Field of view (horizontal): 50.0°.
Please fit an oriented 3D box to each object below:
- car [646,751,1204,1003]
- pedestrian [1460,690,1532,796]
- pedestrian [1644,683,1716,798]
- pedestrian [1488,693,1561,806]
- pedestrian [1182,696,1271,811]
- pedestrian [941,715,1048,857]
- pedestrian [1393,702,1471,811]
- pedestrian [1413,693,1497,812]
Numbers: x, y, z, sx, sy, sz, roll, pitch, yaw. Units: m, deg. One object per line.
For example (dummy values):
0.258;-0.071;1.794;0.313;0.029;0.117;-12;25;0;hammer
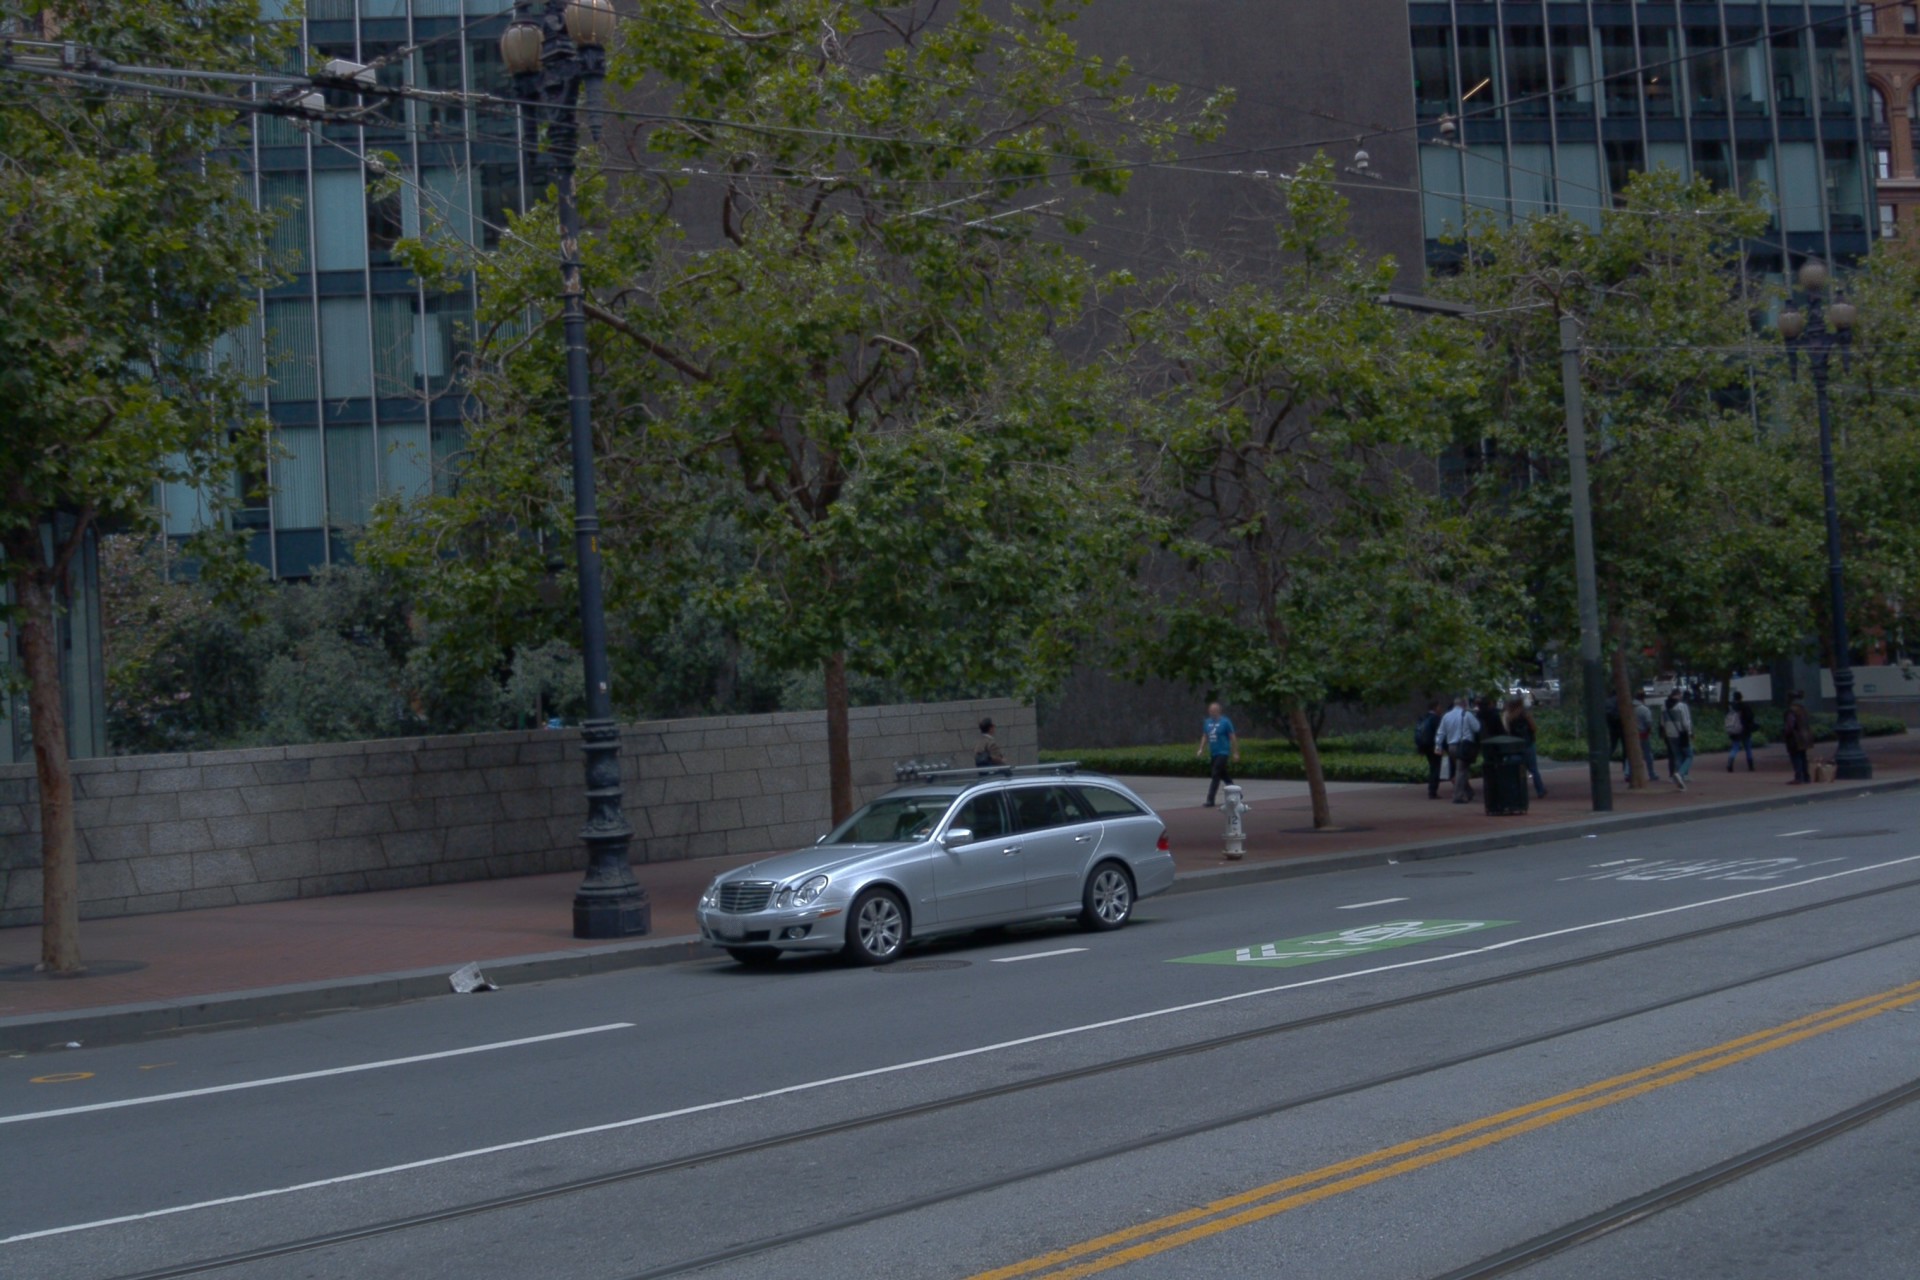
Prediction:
-0.174;1.964;18.370;4.932;1.630;2.035;-1;1;-44;car
9.640;1.839;36.975;0.940;1.830;0.886;-1;1;-45;pedestrian
12.552;1.730;35.844;1.125;1.920;0.742;-1;1;-43;pedestrian
9.592;1.841;34.948;1.081;1.830;0.731;-1;1;-44;pedestrian
4.637;1.956;35.742;1.267;1.900;0.943;-1;1;-44;pedestrian
0.489;2.031;29.016;1.104;1.880;1.023;-1;1;-42;pedestrian
8.153;1.989;35.498;1.018;1.800;0.880;-1;1;-41;pedestrian
8.288;1.859;34.420;0.988;1.900;1.018;1;1;44;pedestrian
